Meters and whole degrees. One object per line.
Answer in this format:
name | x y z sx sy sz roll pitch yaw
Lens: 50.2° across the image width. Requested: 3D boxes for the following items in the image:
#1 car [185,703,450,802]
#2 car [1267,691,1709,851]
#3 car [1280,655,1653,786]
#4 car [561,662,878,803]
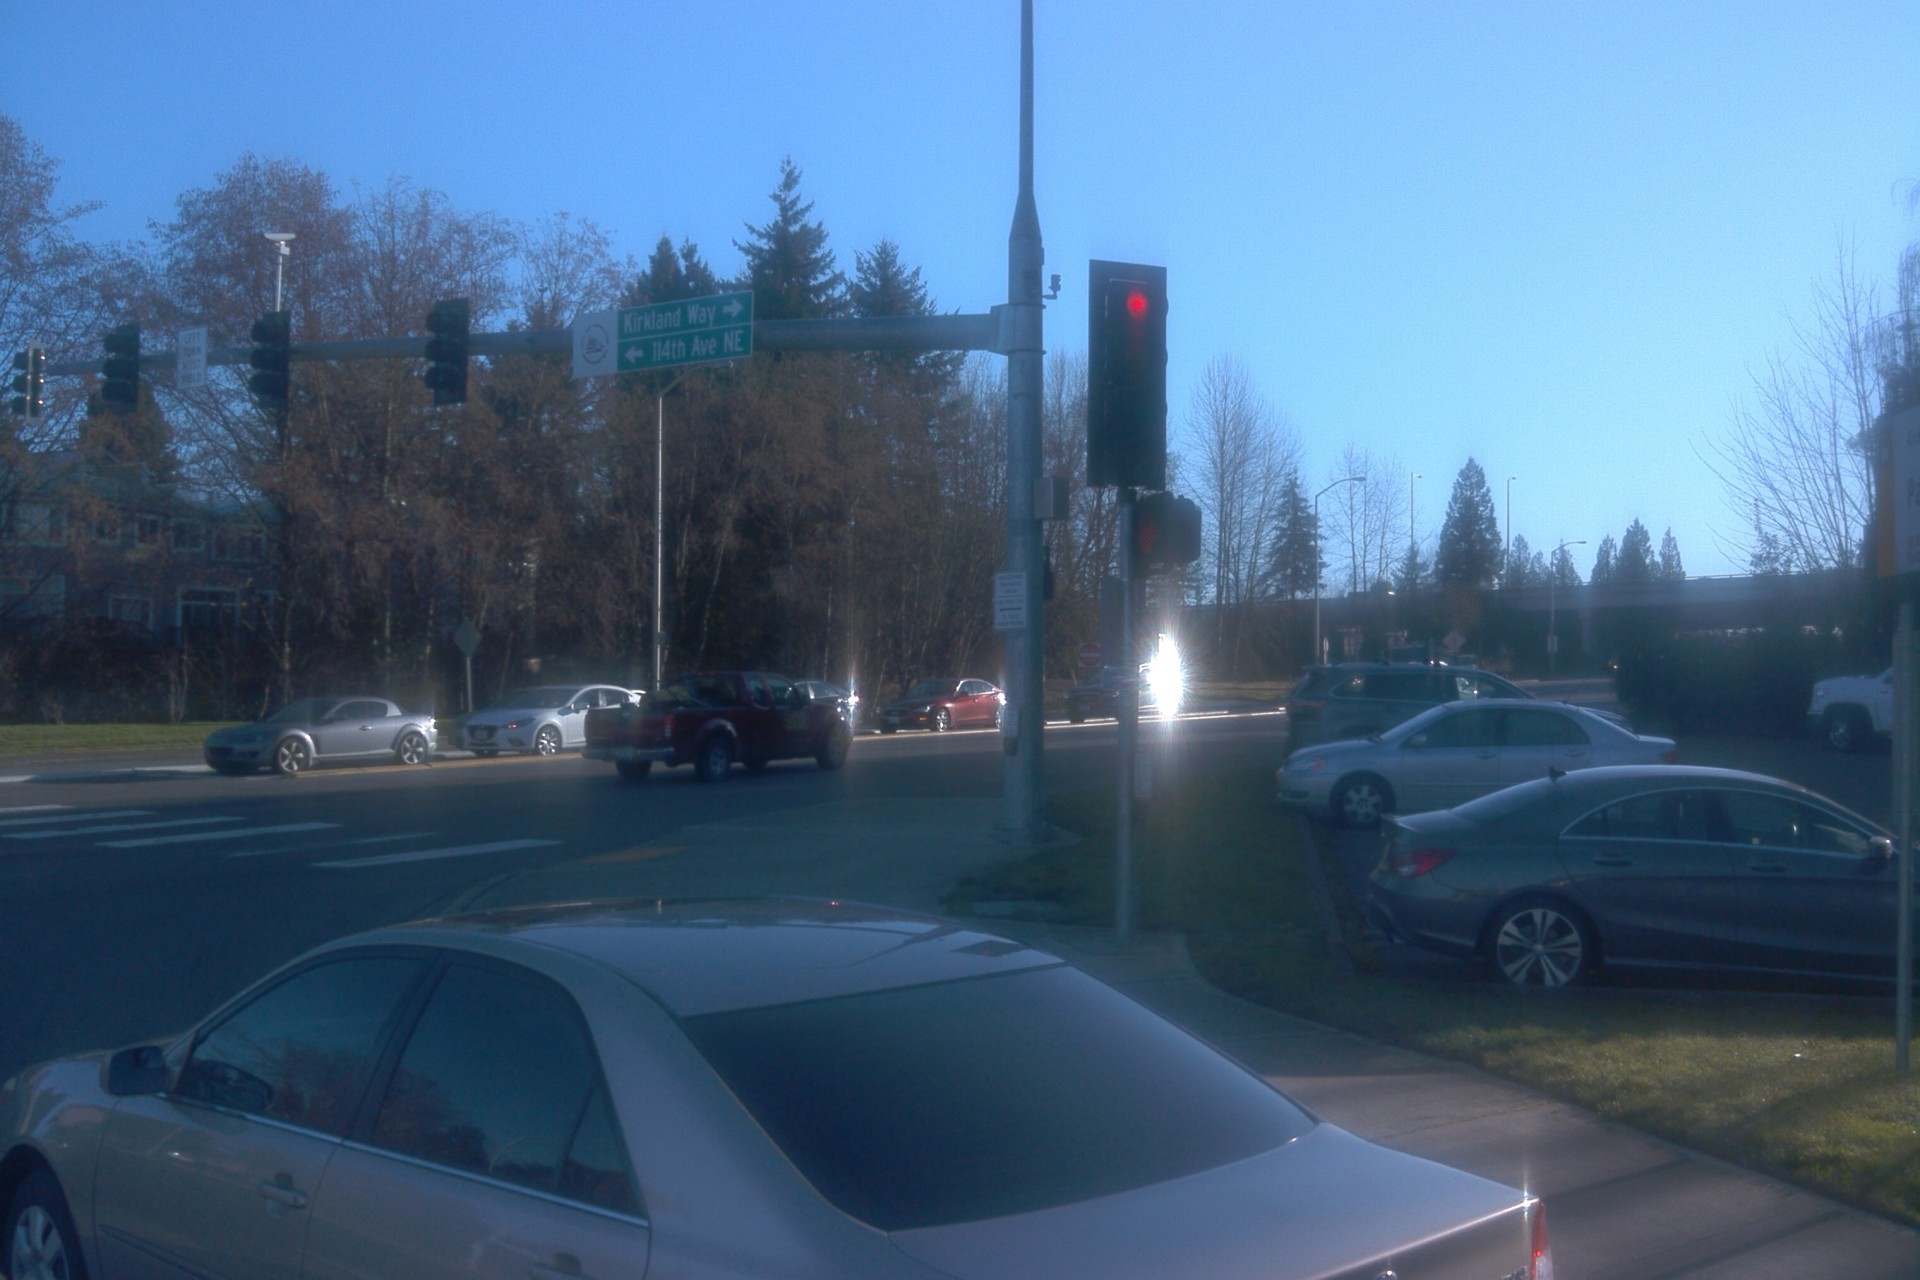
car | -11.227 1.929 36.049 1.817 1.450 4.298 1 1 32
car | 5.907 1.452 23.458 4.657 1.620 2.051 0 0 7
car | 7.007 1.089 28.821 4.869 1.700 2.043 0 0 7
car | -3.740 1.394 32.995 2.108 1.980 5.490 1 1 32
